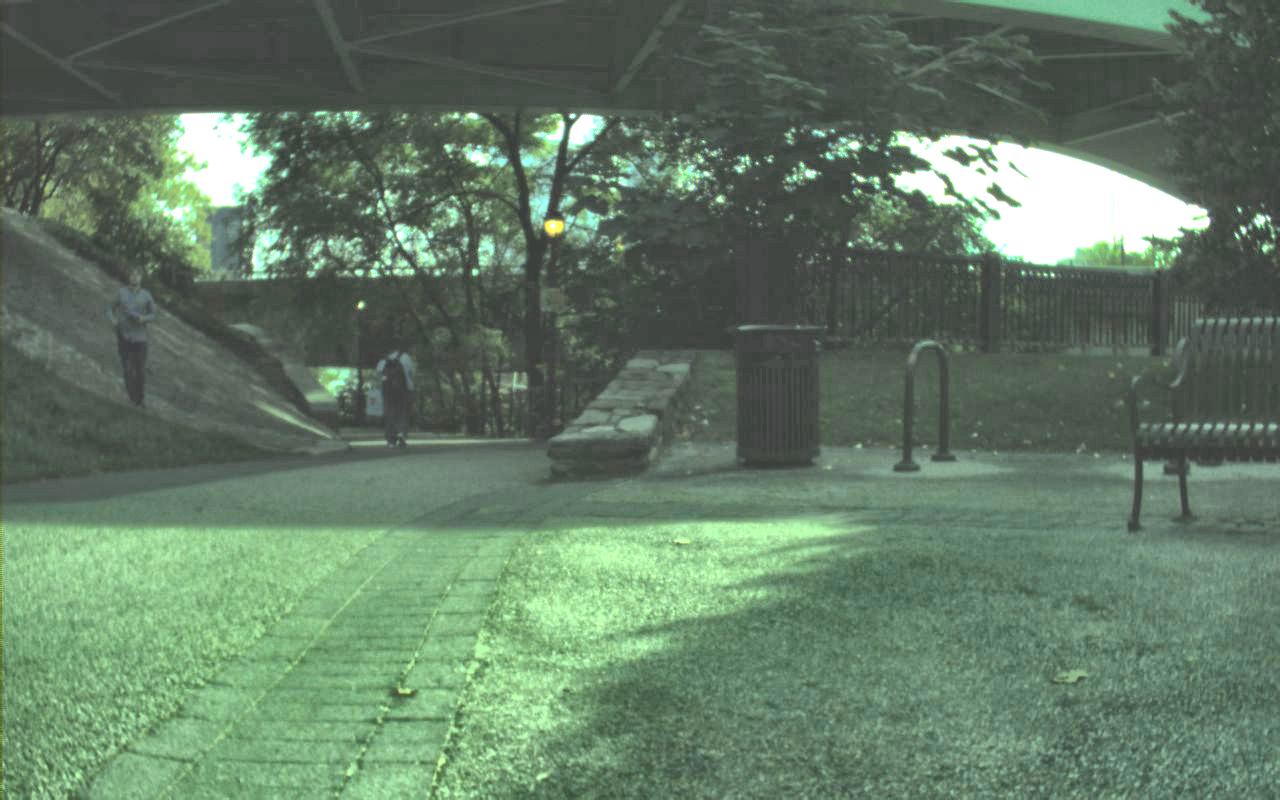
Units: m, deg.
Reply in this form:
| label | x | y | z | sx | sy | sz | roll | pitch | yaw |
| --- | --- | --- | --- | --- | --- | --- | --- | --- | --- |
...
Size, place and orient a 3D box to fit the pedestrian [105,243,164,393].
| label | x | y | z | sx | sy | sz | roll | pitch | yaw |
| --- | --- | --- | --- | --- | --- | --- | --- | --- | --- |
| pedestrian | -6.475 | -1.005 | 14.911 | 0.736 | 1.867 | 0.714 | 0 | 0 | -26 |

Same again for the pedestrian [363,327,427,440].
| label | x | y | z | sx | sy | sz | roll | pitch | yaw |
| --- | --- | --- | --- | --- | --- | --- | --- | --- | --- |
| pedestrian | -3.722 | -0.244 | 18.823 | 0.894 | 1.675 | 0.910 | 0 | 0 | -17 |
